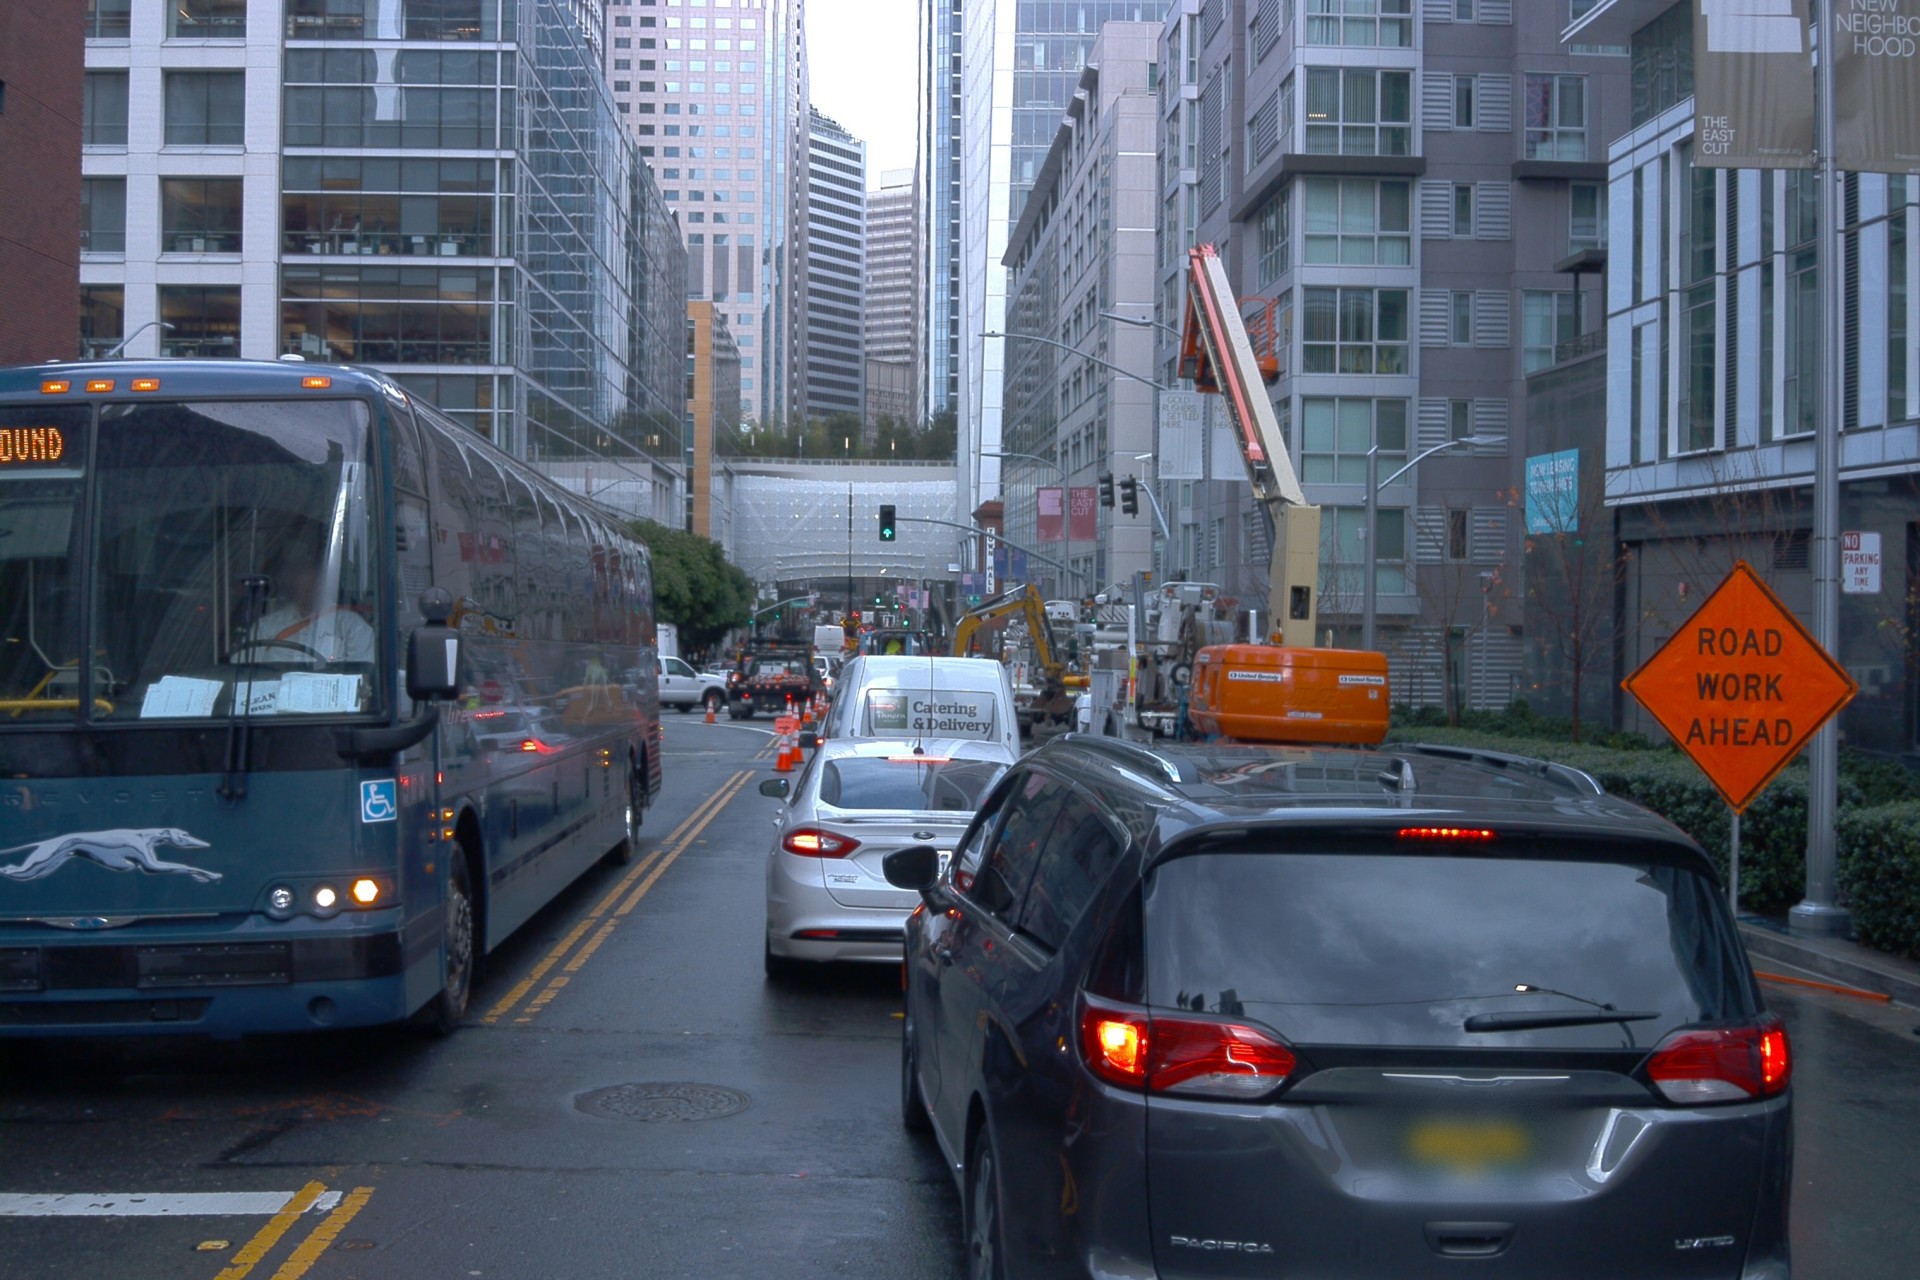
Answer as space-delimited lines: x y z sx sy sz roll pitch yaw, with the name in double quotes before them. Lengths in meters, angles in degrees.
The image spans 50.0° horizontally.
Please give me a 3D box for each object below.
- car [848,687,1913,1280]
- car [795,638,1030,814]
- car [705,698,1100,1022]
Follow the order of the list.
"car" 0.802 1.121 6.812 2.058 1.750 4.787 1 1 -6
"car" -0.544 0.743 19.509 1.860 1.470 3.431 1 1 -7
"car" -0.379 1.285 13.827 2.164 1.580 4.901 1 1 -1
